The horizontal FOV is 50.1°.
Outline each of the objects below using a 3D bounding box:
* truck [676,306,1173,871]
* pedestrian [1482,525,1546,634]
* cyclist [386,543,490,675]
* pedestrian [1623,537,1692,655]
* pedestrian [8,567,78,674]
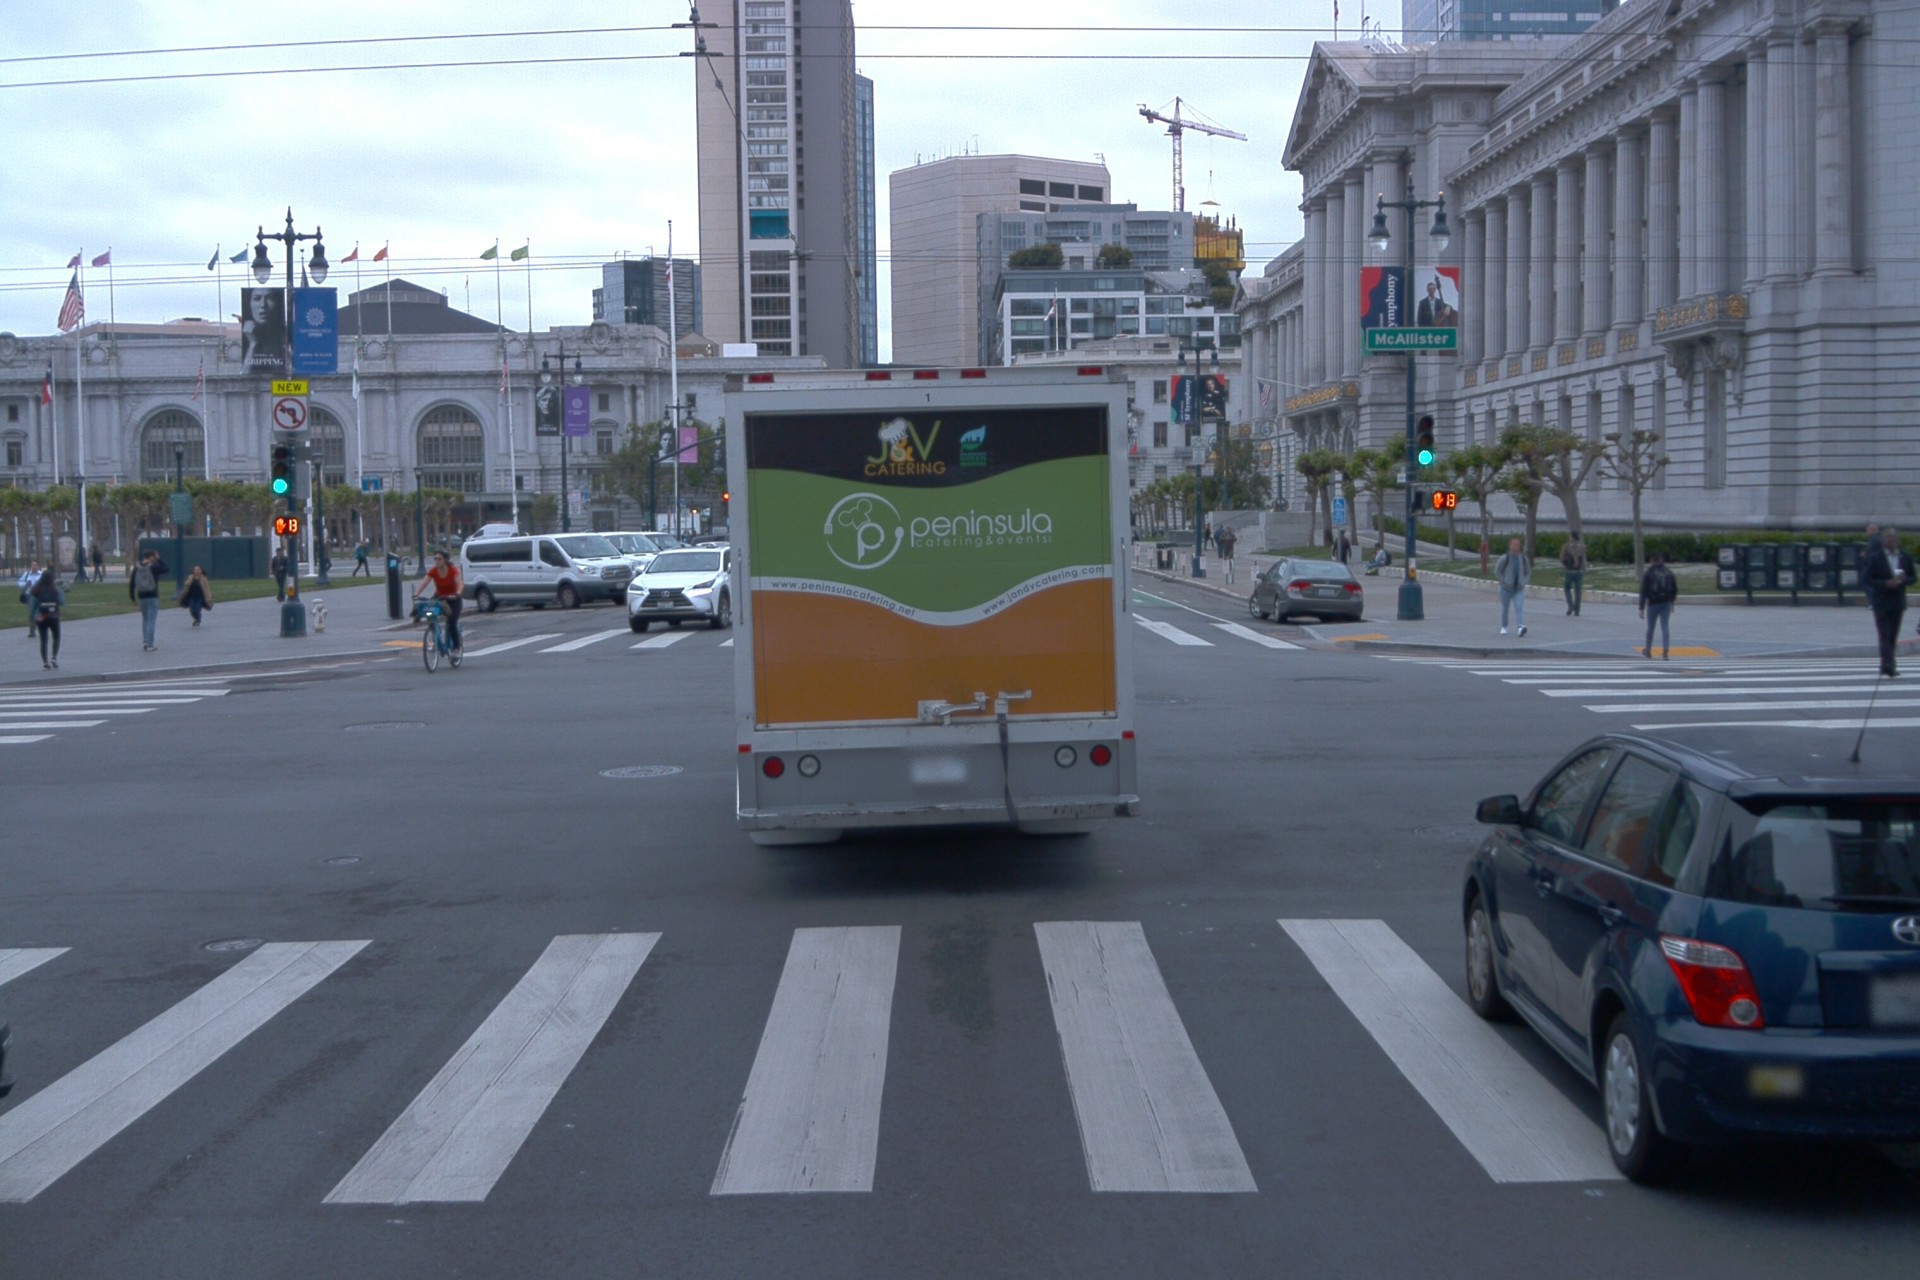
[{"bbox_3d":[-0.489,-0.367,15.747,2.916,3.300,7.289,0,1,-5],"label":"truck"},{"bbox_3d":[9.513,-1.029,35.343,0.811,1.850,1.152,0,1,1],"label":"pedestrian"},{"bbox_3d":[-7.589,-0.453,29.979,0.829,1.850,1.924,0,1,7],"label":"cyclist"},{"bbox_3d":[10.571,-0.661,31.197,0.832,1.760,0.933,0,1,9],"label":"pedestrian"},{"bbox_3d":[-15.107,-0.332,33.890,0.791,1.734,0.967,0,1,-8],"label":"pedestrian"}]
